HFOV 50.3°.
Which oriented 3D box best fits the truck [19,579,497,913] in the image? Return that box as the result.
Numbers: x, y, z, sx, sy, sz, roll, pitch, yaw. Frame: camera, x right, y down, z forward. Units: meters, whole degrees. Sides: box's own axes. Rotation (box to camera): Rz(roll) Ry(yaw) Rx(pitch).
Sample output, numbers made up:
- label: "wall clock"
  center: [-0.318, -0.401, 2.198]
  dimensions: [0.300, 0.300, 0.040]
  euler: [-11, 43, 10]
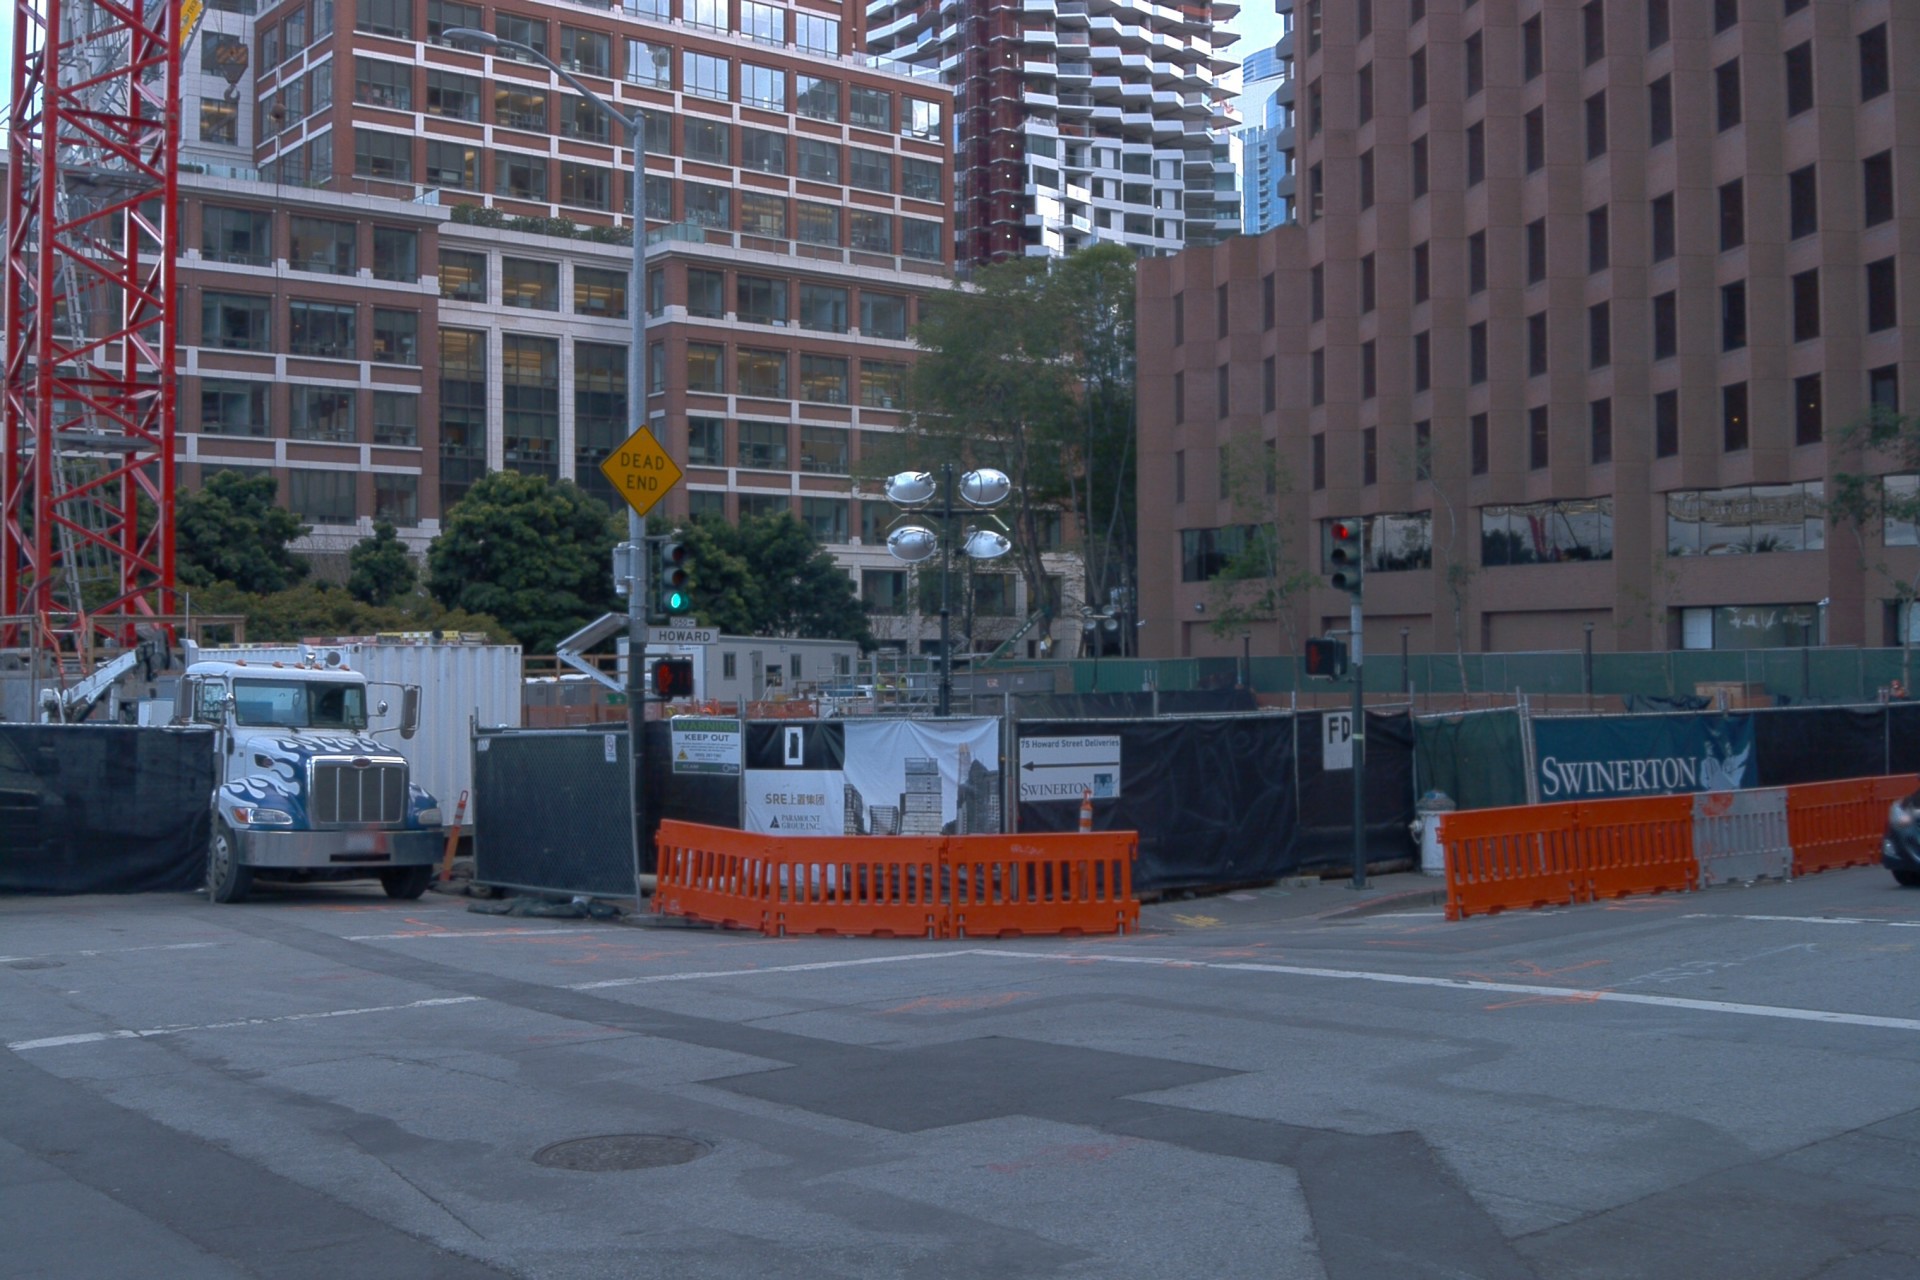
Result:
- label: "truck"
  center: [-8.539, 1.042, 24.299]
  dimensions: [2.982, 3.380, 7.061]
  euler: [0, 0, -40]

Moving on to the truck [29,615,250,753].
- label: "truck"
  center: [-10.058, 0.475, 24.902]
  dimensions: [1.127, 1.550, 4.267]
  euler: [0, 0, -41]
